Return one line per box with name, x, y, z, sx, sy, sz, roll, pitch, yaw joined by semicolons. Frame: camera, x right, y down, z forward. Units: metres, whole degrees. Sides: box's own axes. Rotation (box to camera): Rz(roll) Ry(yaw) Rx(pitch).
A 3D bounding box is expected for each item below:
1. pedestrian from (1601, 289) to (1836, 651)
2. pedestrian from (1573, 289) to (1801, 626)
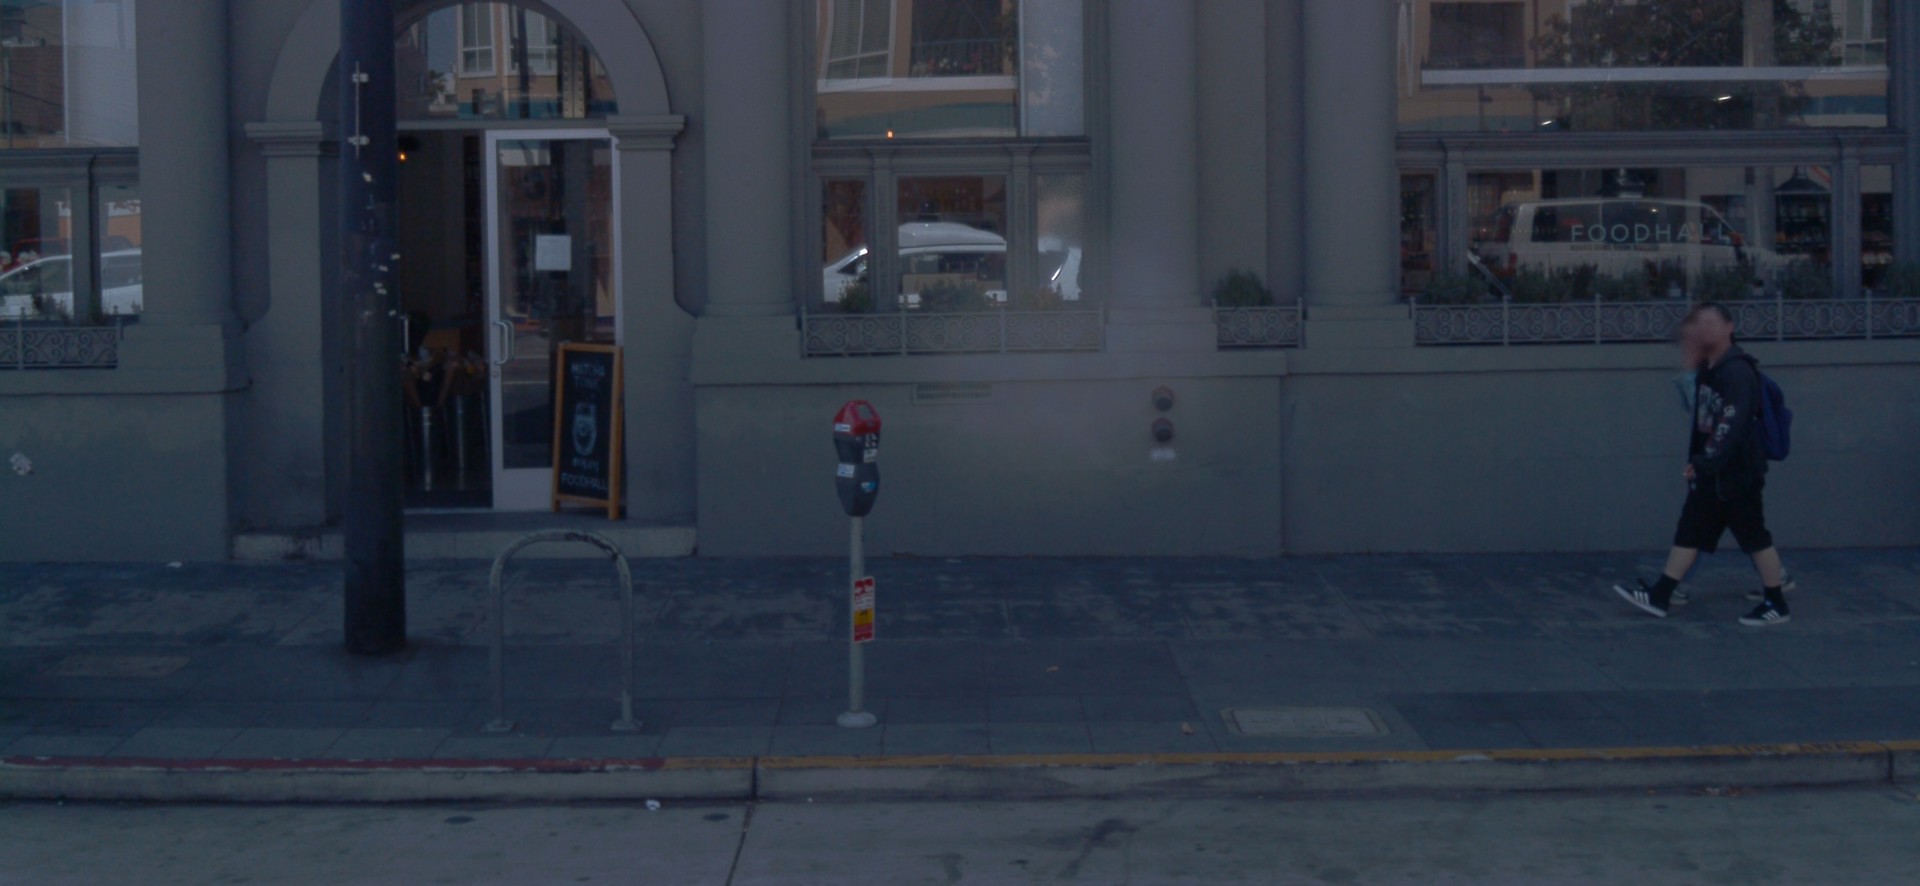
pedestrian;3.924;0.108;10.690;0.984;1.799;0.714;0;1;3
pedestrian;4.003;0.050;11.368;1.028;1.789;0.691;0;1;1
